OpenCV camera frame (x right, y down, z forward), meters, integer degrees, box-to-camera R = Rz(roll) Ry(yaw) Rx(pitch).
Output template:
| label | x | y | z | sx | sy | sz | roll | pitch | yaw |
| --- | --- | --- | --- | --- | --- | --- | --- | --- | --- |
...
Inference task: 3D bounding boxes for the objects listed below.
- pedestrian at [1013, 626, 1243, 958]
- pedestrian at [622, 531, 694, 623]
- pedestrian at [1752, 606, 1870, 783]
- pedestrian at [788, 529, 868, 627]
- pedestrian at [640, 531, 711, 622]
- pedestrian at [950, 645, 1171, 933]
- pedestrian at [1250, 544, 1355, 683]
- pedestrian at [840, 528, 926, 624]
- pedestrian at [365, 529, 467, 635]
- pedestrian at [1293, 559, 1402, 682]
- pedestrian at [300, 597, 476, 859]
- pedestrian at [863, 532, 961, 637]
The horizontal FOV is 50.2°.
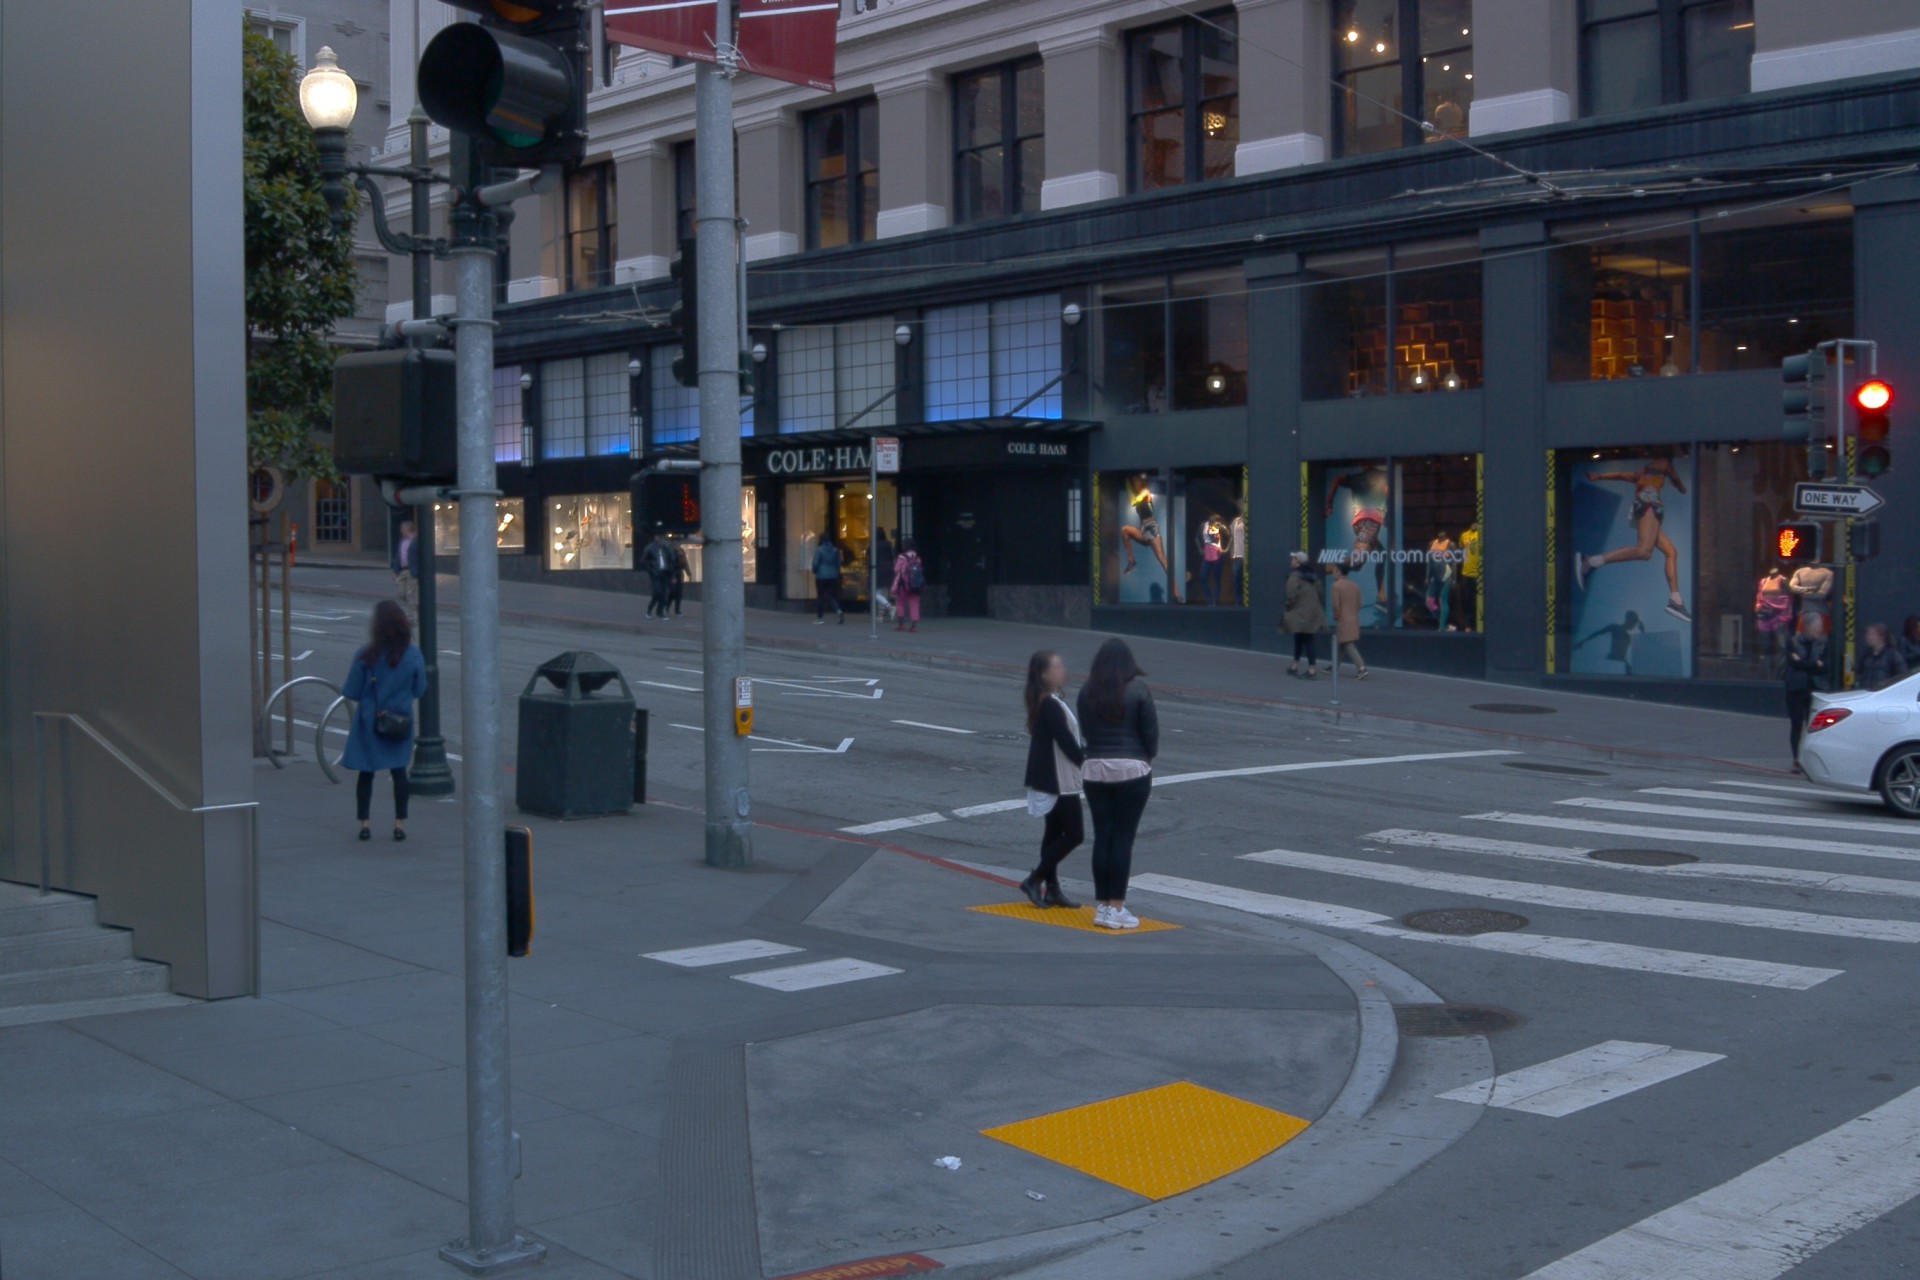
| label | x | y | z | sx | sy | sz | roll | pitch | yaw |
| --- | --- | --- | --- | --- | --- | --- | --- | --- | --- |
| pedestrian | 1.011 | 0.863 | 12.353 | 1.113 | 1.890 | 0.813 | 0 | 1 | -33 |
| pedestrian | -5.519 | -1.145 | 37.478 | 0.891 | 1.650 | 1.047 | 0 | 1 | -39 |
| pedestrian | 8.945 | 0.545 | 21.527 | 0.895 | 1.800 | 1.088 | 1 | 1 | 36 |
| pedestrian | -2.304 | -1.072 | 35.782 | 0.994 | 1.670 | 0.999 | 0 | 1 | -40 |
| pedestrian | -5.306 | -1.172 | 38.196 | 0.891 | 1.650 | 1.047 | 0 | 1 | -39 |
| pedestrian | 0.642 | 0.897 | 13.038 | 0.997 | 1.710 | 1.003 | 1 | 1 | 39 |
| pedestrian | 4.847 | -0.373 | 28.977 | 1.104 | 1.920 | 0.963 | 1 | 1 | 44 |
| pedestrian | -1.349 | -1.109 | 35.852 | 1.148 | 1.630 | 0.965 | 1 | 1 | 44 |
| pedestrian | -9.427 | -0.996 | 35.537 | 1.093 | 1.780 | 1.344 | 1 | 1 | 25 |
| pedestrian | 5.522 | -0.280 | 29.215 | 1.108 | 1.700 | 1.053 | 1 | 1 | 45 |
| pedestrian | -3.992 | 0.579 | 14.295 | 0.951 | 1.750 | 0.801 | 0 | 1 | -37 |
| pedestrian | -0.793 | -0.901 | 33.770 | 1.127 | 1.690 | 1.183 | 0 | 1 | -40 |
